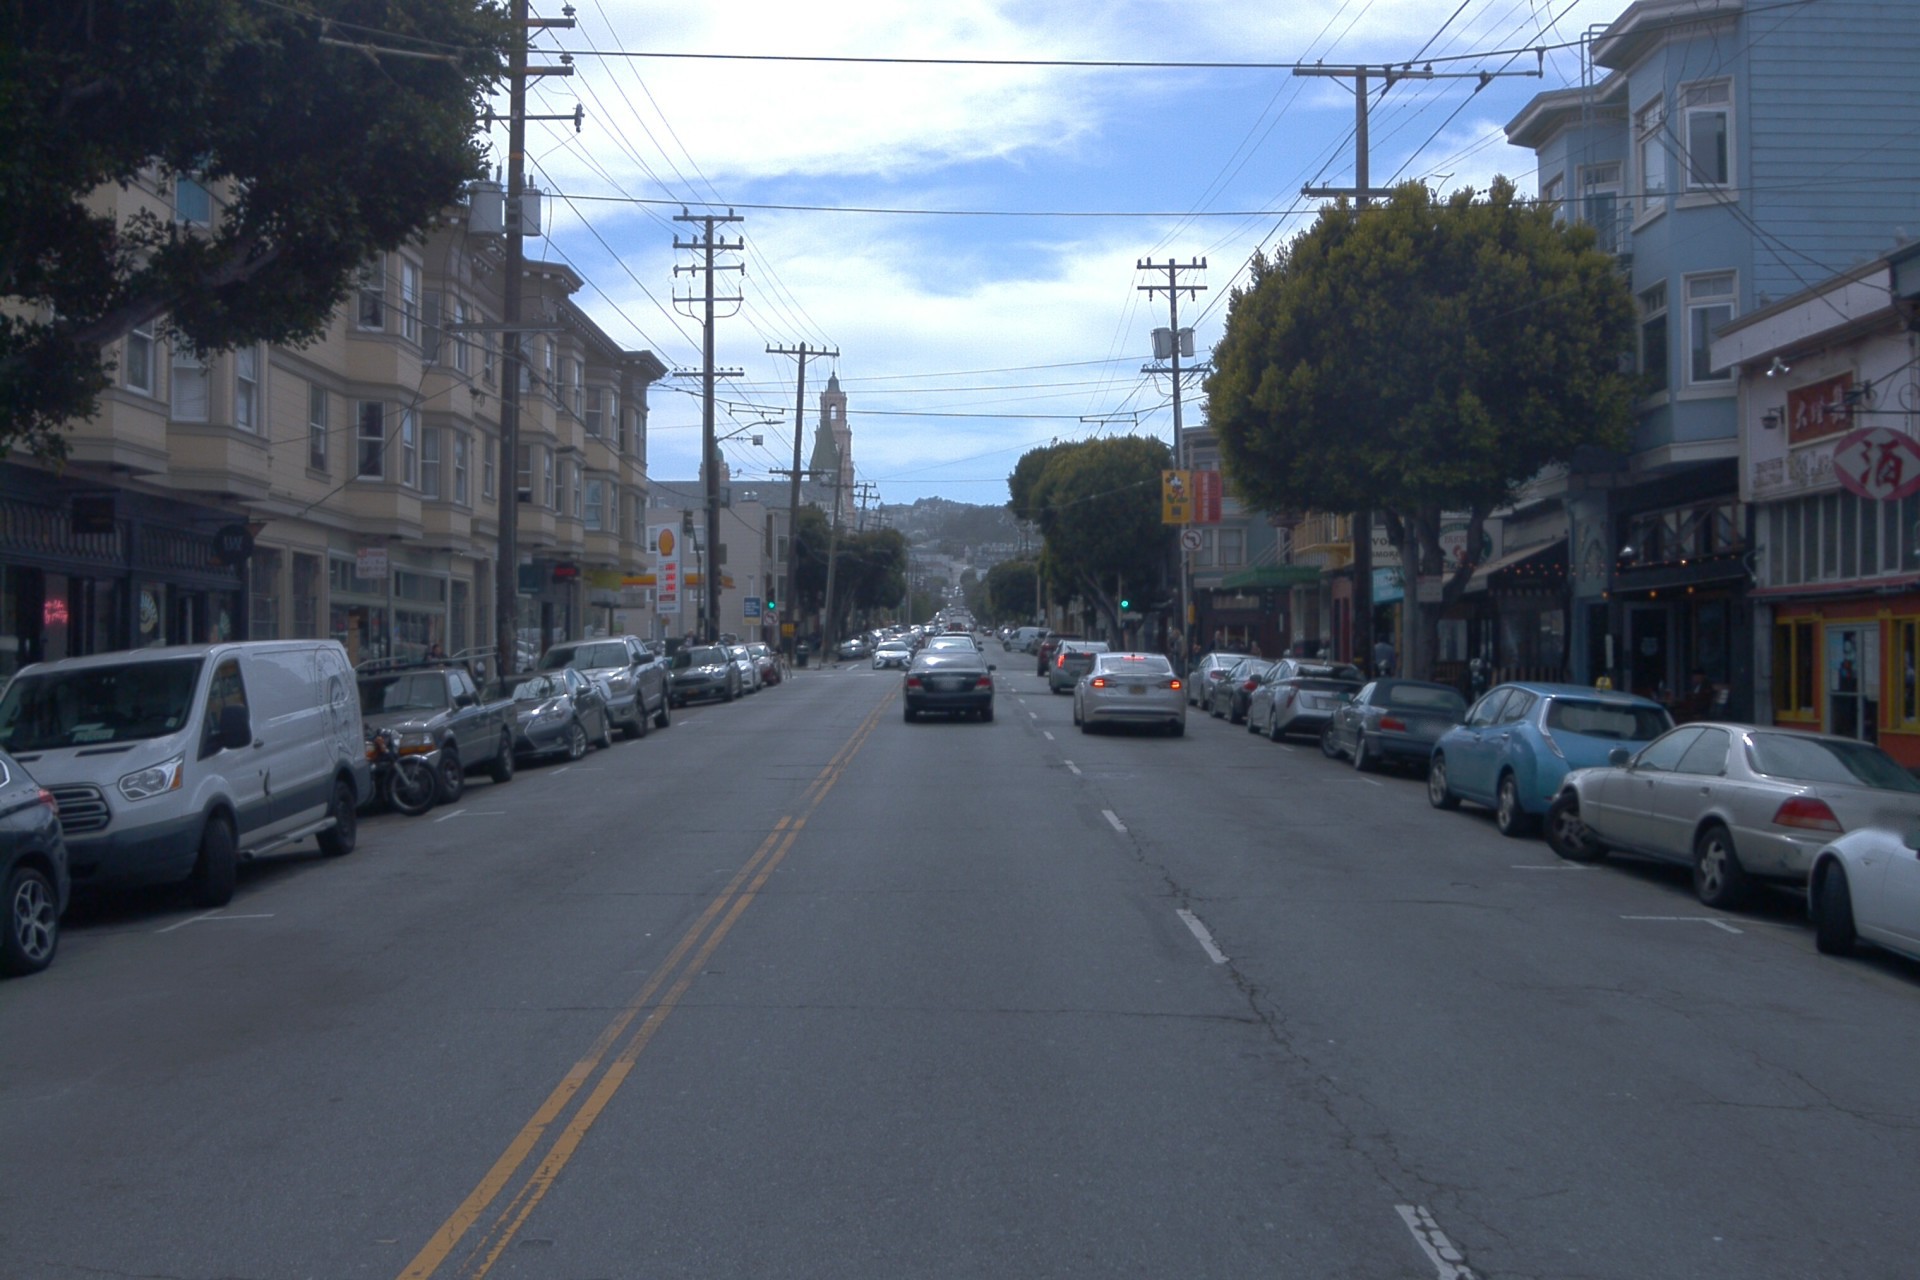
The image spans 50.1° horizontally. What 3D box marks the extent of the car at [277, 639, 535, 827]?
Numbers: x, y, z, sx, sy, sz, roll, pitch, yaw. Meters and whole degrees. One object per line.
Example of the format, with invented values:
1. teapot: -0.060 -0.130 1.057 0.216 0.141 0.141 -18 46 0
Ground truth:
1. car: -6.911 1.068 26.273 1.952 2.070 5.232 0 1 -1

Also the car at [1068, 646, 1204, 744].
1. car: 3.152 0.954 37.812 2.170 1.570 4.849 0 1 1

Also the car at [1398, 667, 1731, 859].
1. car: 6.227 1.193 21.798 2.073 1.680 4.516 0 1 -2

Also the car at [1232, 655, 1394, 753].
1. car: 6.173 1.078 36.492 2.084 1.510 4.572 0 1 0

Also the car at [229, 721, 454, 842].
1. car: -6.923 1.575 23.103 2.235 1.270 0.941 0 1 -1

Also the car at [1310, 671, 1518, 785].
1. car: 6.464 1.215 29.793 2.086 1.380 4.472 0 1 1

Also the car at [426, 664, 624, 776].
1. car: -6.757 1.198 32.516 2.199 1.490 4.919 0 1 -1
